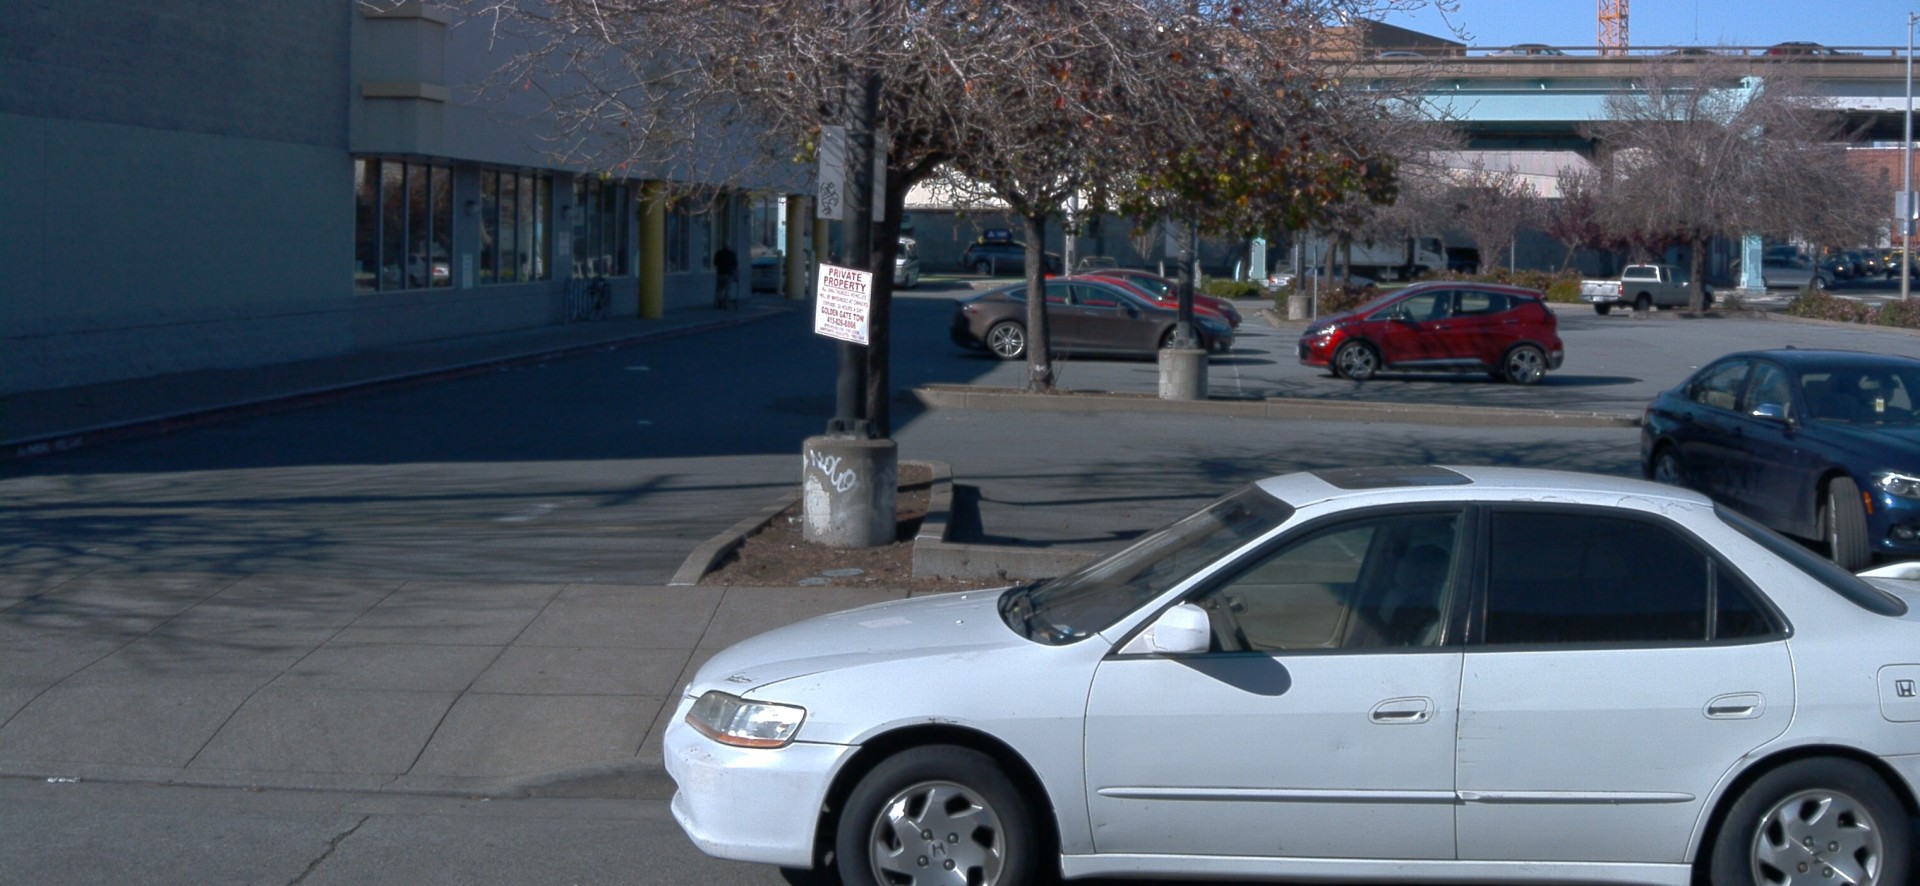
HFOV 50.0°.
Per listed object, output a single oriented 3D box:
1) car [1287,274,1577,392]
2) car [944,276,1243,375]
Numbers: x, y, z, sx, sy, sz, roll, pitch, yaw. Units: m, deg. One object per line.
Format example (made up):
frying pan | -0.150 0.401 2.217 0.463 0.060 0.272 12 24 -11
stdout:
car | 7.427 -1.782 32.689 4.156 1.695 2.038 1 4 2
car | 2.329 -2.082 35.835 5.044 1.525 1.995 1 4 5
